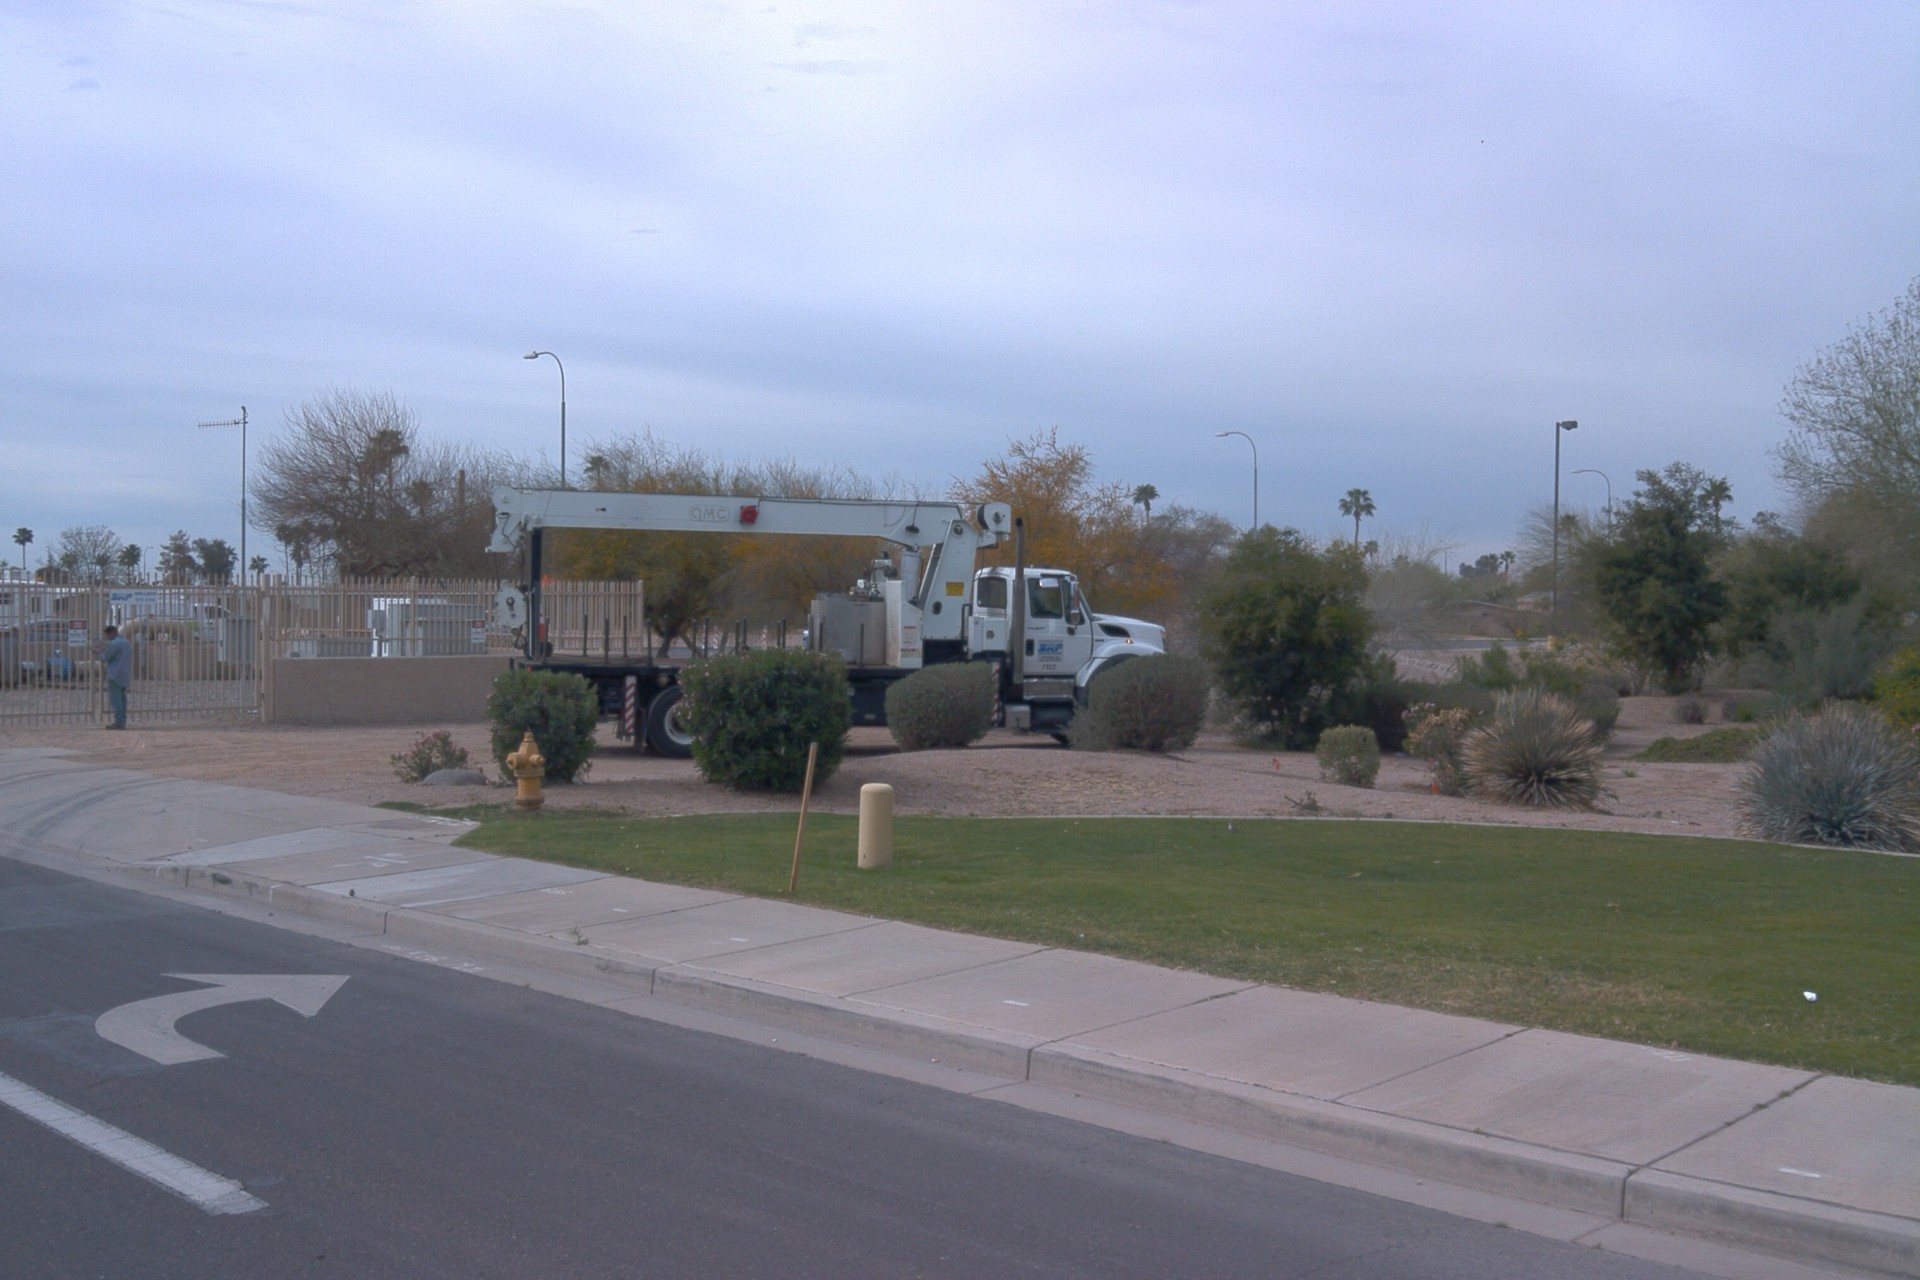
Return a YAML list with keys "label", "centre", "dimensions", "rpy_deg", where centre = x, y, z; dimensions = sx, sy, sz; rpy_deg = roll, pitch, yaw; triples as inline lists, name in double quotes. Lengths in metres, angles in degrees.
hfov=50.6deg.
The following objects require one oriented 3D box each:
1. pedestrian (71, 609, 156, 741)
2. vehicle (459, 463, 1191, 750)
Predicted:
- label: "pedestrian"
  centre: [-13.560, 0.551, 32.570]
  dimensions: [0.983, 2.050, 0.839]
  rpy_deg: [2, 0, 39]
- label: "vehicle"
  centre: [-2.058, -0.383, 30.535]
  dimensions: [10.390, 3.770, 3.375]
  rpy_deg: [2, 0, -16]
